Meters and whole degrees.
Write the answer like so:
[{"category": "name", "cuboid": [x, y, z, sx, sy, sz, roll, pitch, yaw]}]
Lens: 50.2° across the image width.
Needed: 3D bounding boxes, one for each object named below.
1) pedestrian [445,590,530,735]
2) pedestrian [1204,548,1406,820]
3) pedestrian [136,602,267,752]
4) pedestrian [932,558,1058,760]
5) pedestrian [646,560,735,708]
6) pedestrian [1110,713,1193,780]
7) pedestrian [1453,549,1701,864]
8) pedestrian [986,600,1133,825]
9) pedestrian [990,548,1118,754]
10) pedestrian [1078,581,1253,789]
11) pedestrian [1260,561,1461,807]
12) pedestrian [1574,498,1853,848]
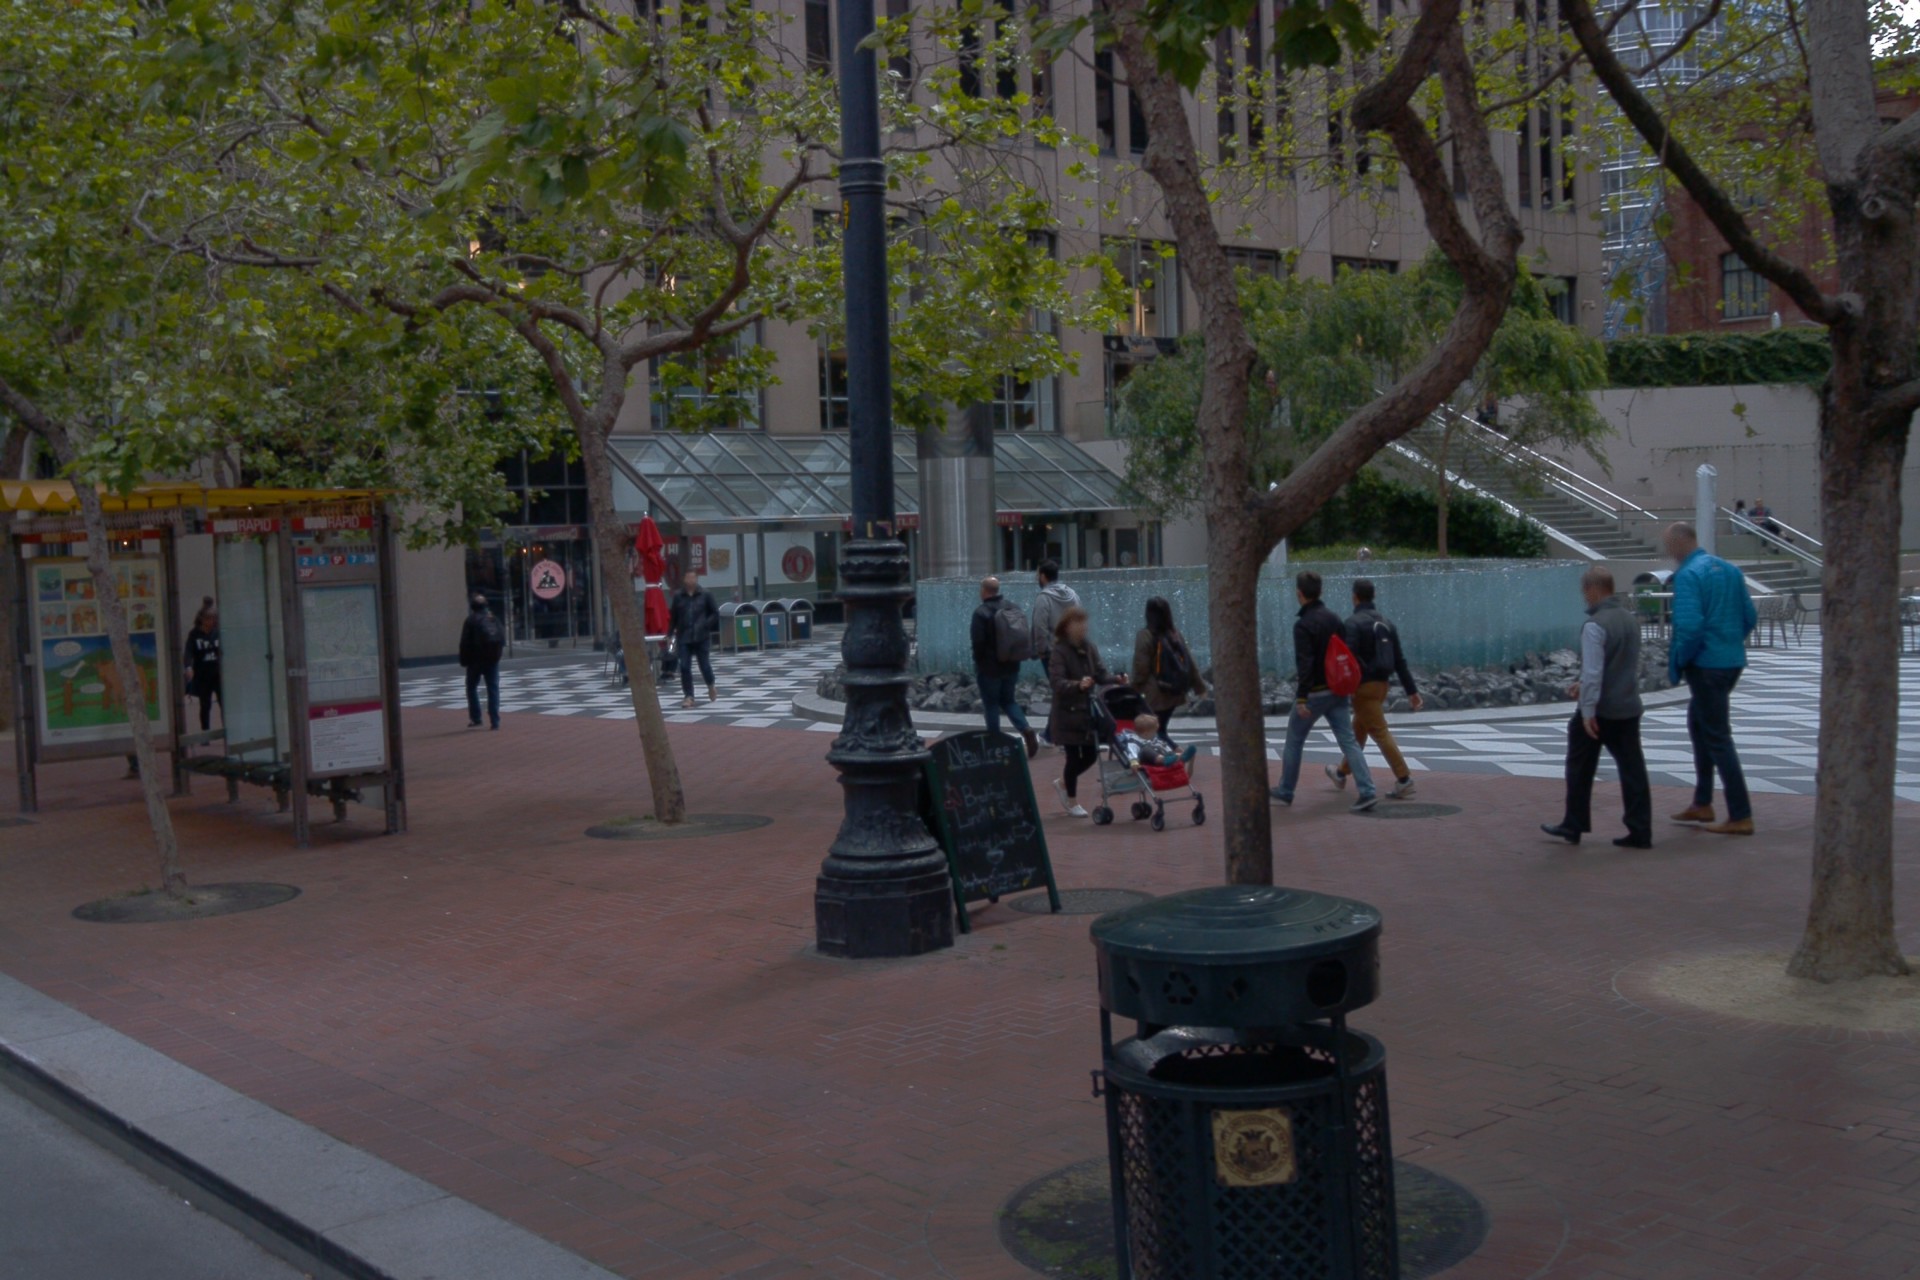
[{"category": "pedestrian", "cuboid": [-5.858, 0.273, 25.406, 0.751, 1.760, 0.896, 0, 0, -34]}, {"category": "pedestrian", "cuboid": [2.422, 0.295, 14.443, 0.852, 1.820, 1.123, 0, 0, -36]}, {"category": "pedestrian", "cuboid": [-9.444, 0.446, 25.505, 1.151, 1.810, 1.273, 0, 0, -42]}, {"category": "pedestrian", "cuboid": [0.319, 0.167, 18.755, 0.709, 1.790, 0.927, 0, 0, -42]}, {"category": "pedestrian", "cuboid": [-3.652, -0.081, 27.875, 0.889, 1.970, 1.214, 0, 0, 9]}, {"category": "pedestrian", "cuboid": [1.320, 0.731, 14.146, 0.307, 0.428, 0.515, 0, 0, -37]}, {"category": "pedestrian", "cuboid": [3.728, 0.377, 12.417, 0.886, 1.800, 1.130, 0, 0, -39]}, {"category": "pedestrian", "cuboid": [0.717, 0.507, 14.897, 0.636, 1.569, 0.937, 0, 0, -33]}, {"category": "pedestrian", "cuboid": [0.884, 0.097, 19.282, 0.838, 1.880, 0.857, 0, 0, -45]}, {"category": "pedestrian", "cuboid": [1.672, 0.350, 16.666, 0.917, 1.620, 1.076, 0, 0, -45]}, {"category": "pedestrian", "cuboid": [2.945, 0.306, 15.107, 0.952, 1.730, 1.096, 0, 0, -36]}, {"category": "pedestrian", "cuboid": [4.650, 0.190, 12.684, 0.943, 2.030, 1.319, 0, 0, -38]}]
